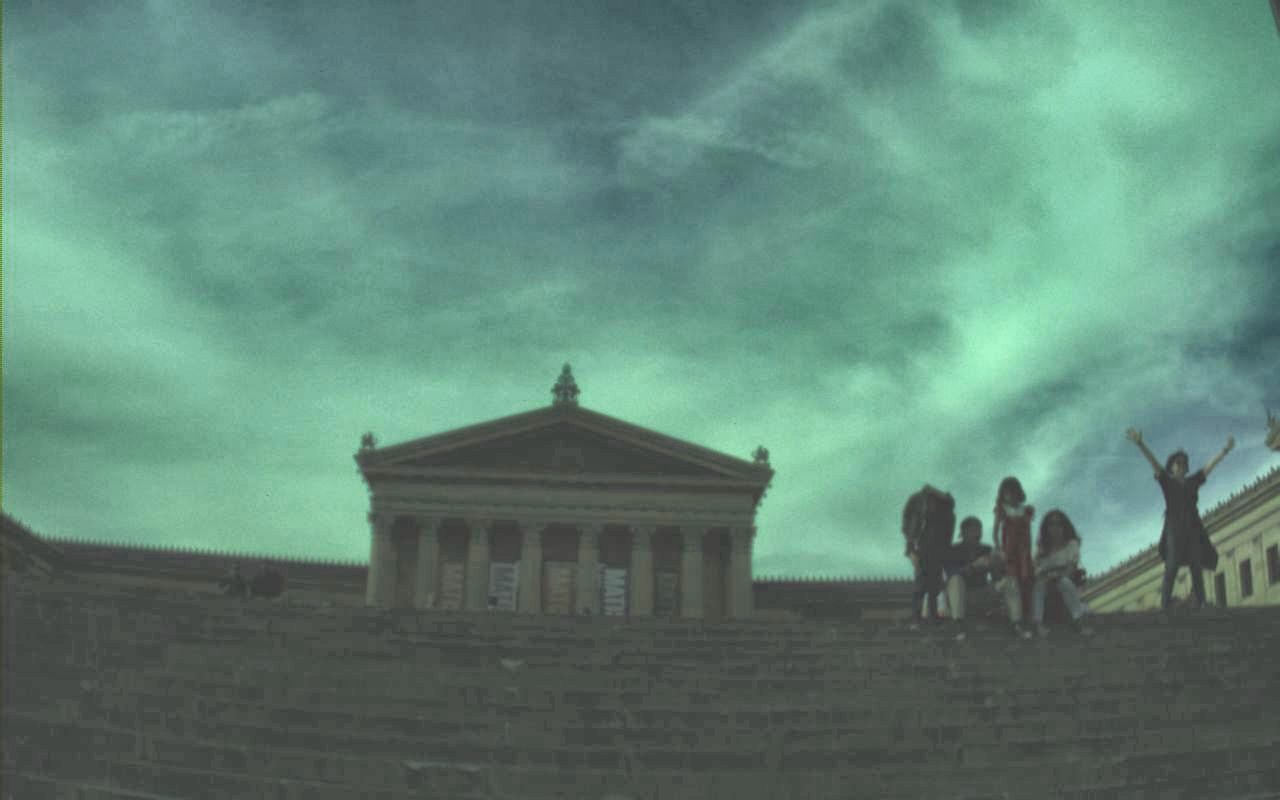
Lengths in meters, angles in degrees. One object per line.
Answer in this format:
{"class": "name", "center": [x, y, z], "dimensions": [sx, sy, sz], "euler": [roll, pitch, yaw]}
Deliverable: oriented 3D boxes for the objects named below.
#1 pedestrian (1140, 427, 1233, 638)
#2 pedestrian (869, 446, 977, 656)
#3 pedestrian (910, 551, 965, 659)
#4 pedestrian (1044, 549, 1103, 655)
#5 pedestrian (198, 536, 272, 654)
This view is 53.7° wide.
{"class": "pedestrian", "center": [5.042, 1.234, 10.678], "dimensions": [0.690, 1.885, 0.699], "euler": [0, 0, 12]}
{"class": "pedestrian", "center": [2.224, 1.185, 9.735], "dimensions": [0.733, 1.584, 0.763], "euler": [0, 0, 6]}
{"class": "pedestrian", "center": [5.252, 3.634, 21.533], "dimensions": [0.660, 1.803, 0.649], "euler": [0, 0, -27]}
{"class": "pedestrian", "center": [7.970, 3.743, 21.801], "dimensions": [0.720, 1.823, 0.724], "euler": [0, 0, -28]}
{"class": "pedestrian", "center": [-6.646, 3.201, 19.420], "dimensions": [0.815, 1.780, 0.861], "euler": [1, 0, 31]}
